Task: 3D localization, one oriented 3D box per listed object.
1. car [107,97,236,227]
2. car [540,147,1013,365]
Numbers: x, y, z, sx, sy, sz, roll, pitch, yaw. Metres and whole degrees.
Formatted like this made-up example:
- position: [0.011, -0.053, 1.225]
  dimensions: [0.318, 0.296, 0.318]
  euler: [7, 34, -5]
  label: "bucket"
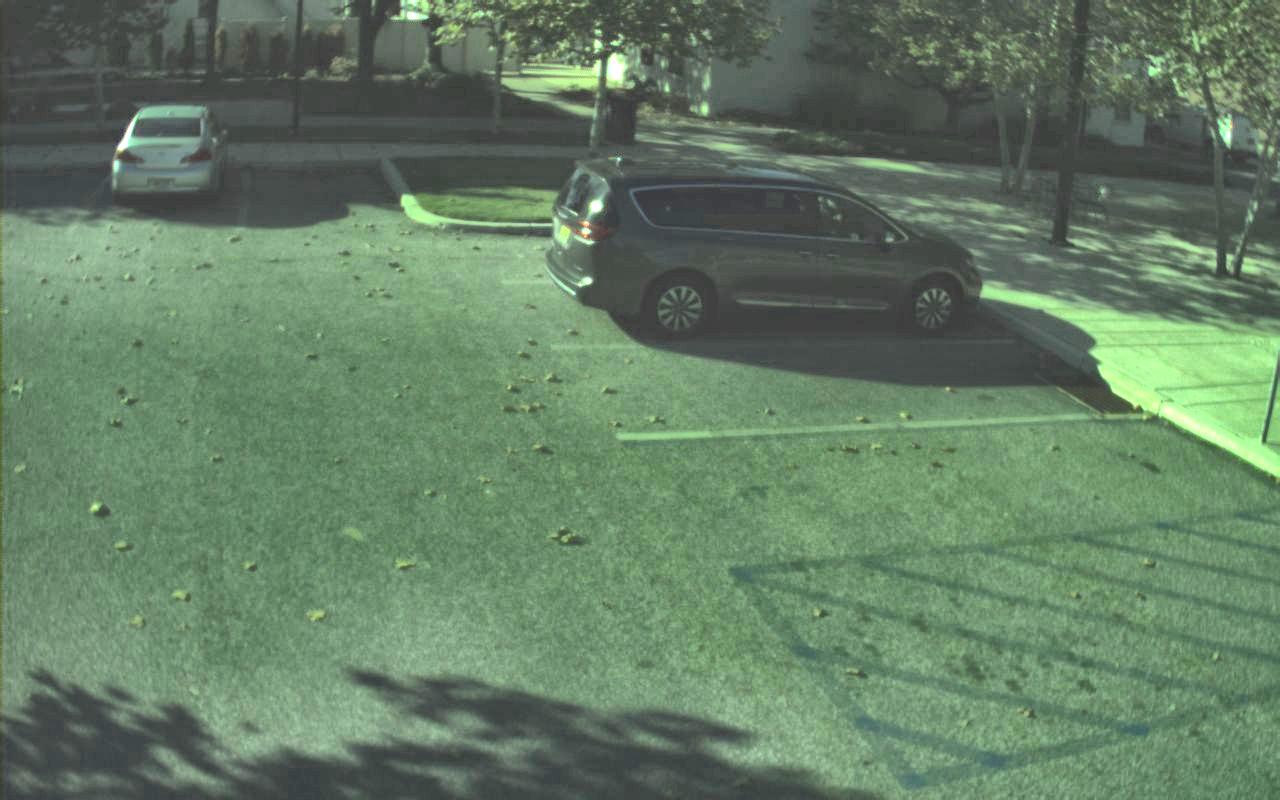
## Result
- position: [-7.618, -3.988, 19.259]
  dimensions: [1.913, 1.586, 4.377]
  euler: [-6, 17, -17]
  label: "car"
- position: [1.545, -1.764, 14.024]
  dimensions: [4.929, 1.815, 2.076]
  euler: [-6, 17, -17]
  label: "car"
